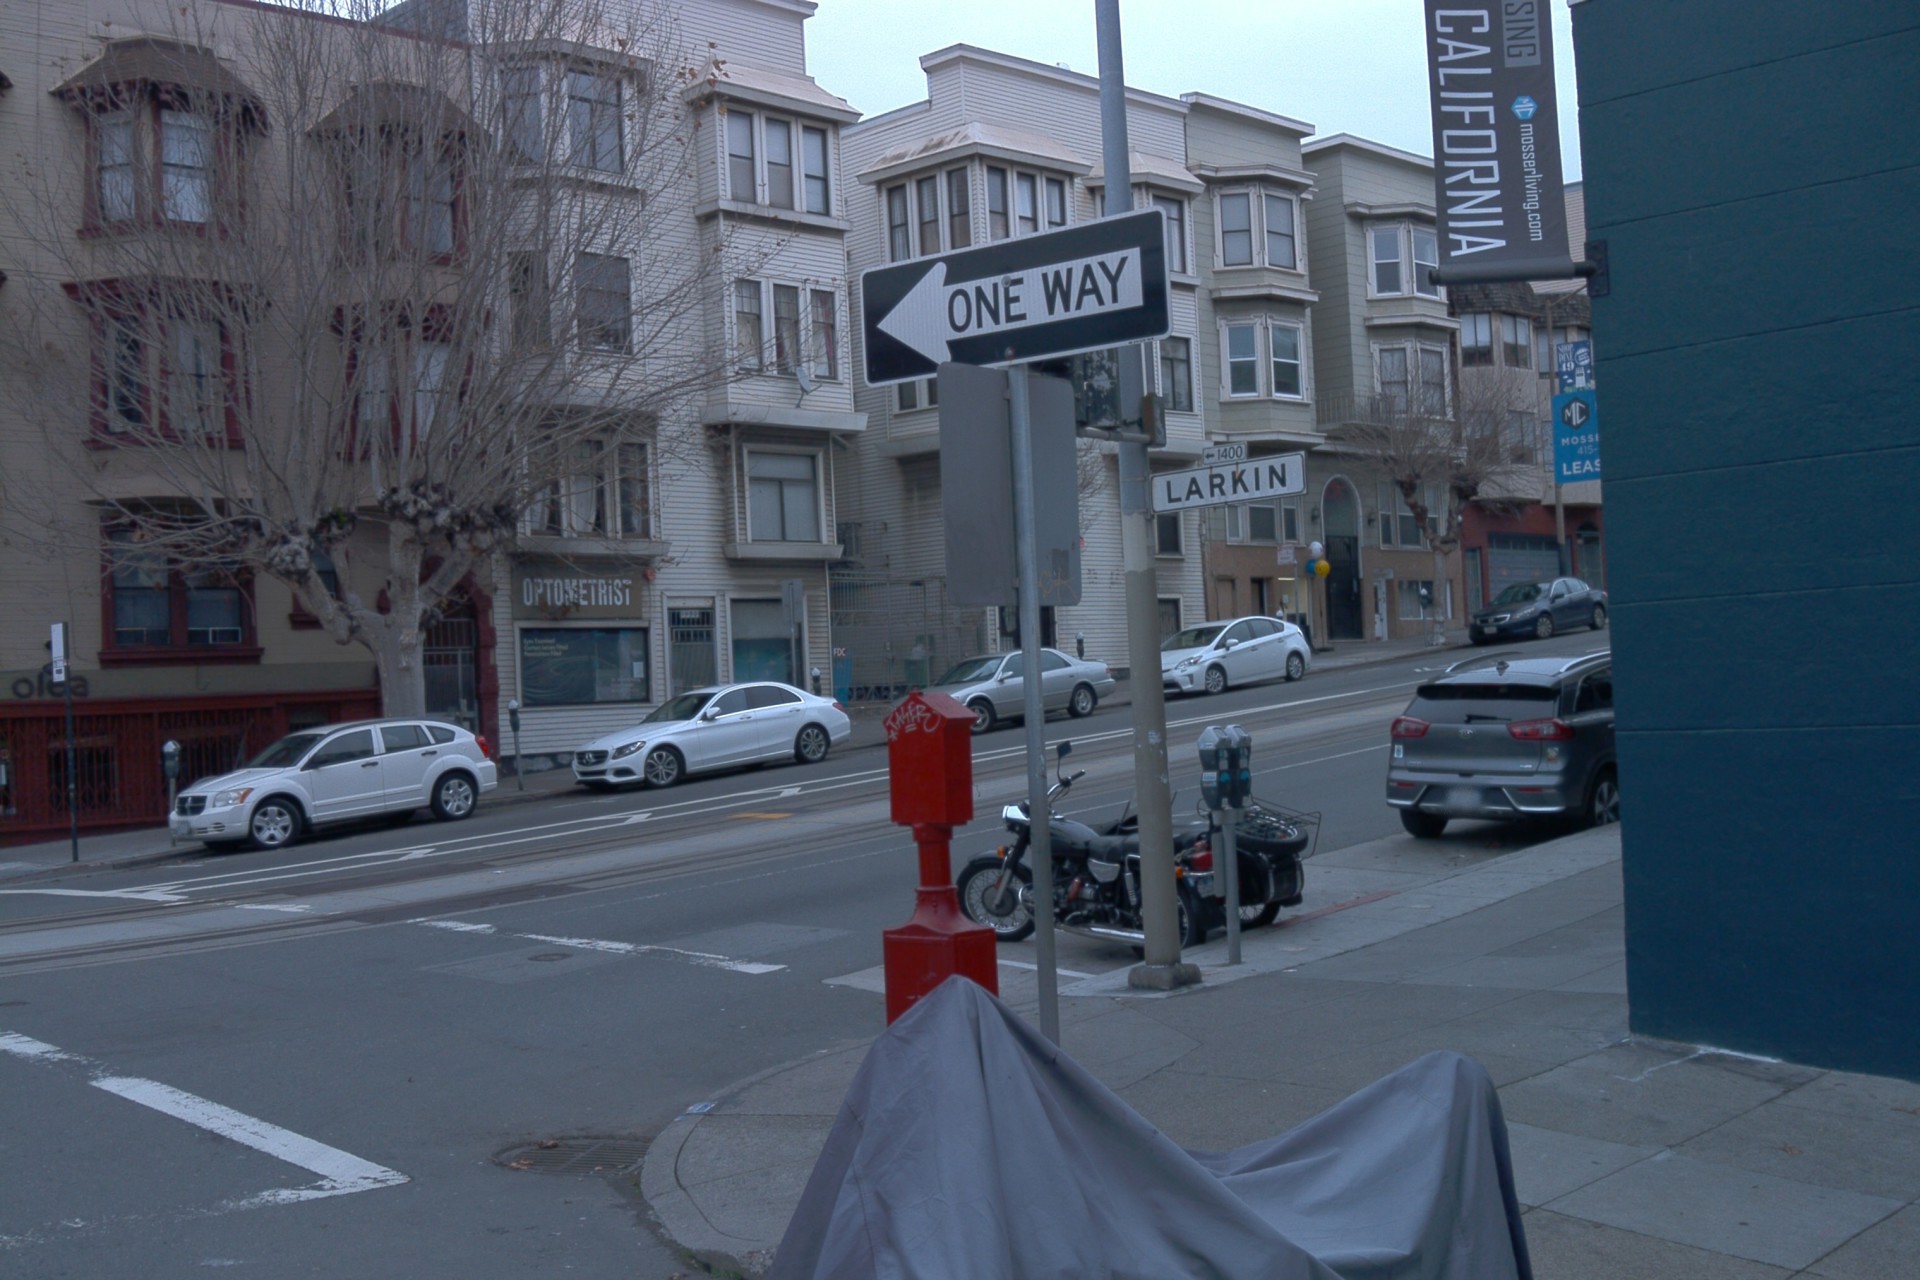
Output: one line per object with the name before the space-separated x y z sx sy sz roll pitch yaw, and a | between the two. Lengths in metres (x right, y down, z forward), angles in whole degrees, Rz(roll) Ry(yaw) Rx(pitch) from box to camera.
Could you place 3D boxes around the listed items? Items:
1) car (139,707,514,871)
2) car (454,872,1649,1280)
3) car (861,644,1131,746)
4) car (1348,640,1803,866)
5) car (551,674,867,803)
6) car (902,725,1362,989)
car | -8.482 1.920 27.919 2.053 1.847 4.407 1 1 44
car | 0.332 1.393 4.286 2.490 1.520 1.048 -1 1 -44
car | 0.712 0.923 37.121 4.801 1.657 2.084 -1 1 -45
car | 5.645 0.886 18.583 2.132 1.717 4.606 0 1 42
car | -3.872 1.469 32.361 4.589 1.757 2.074 -1 1 -44
car | 1.133 1.380 14.055 2.745 1.460 1.540 0 1 42
